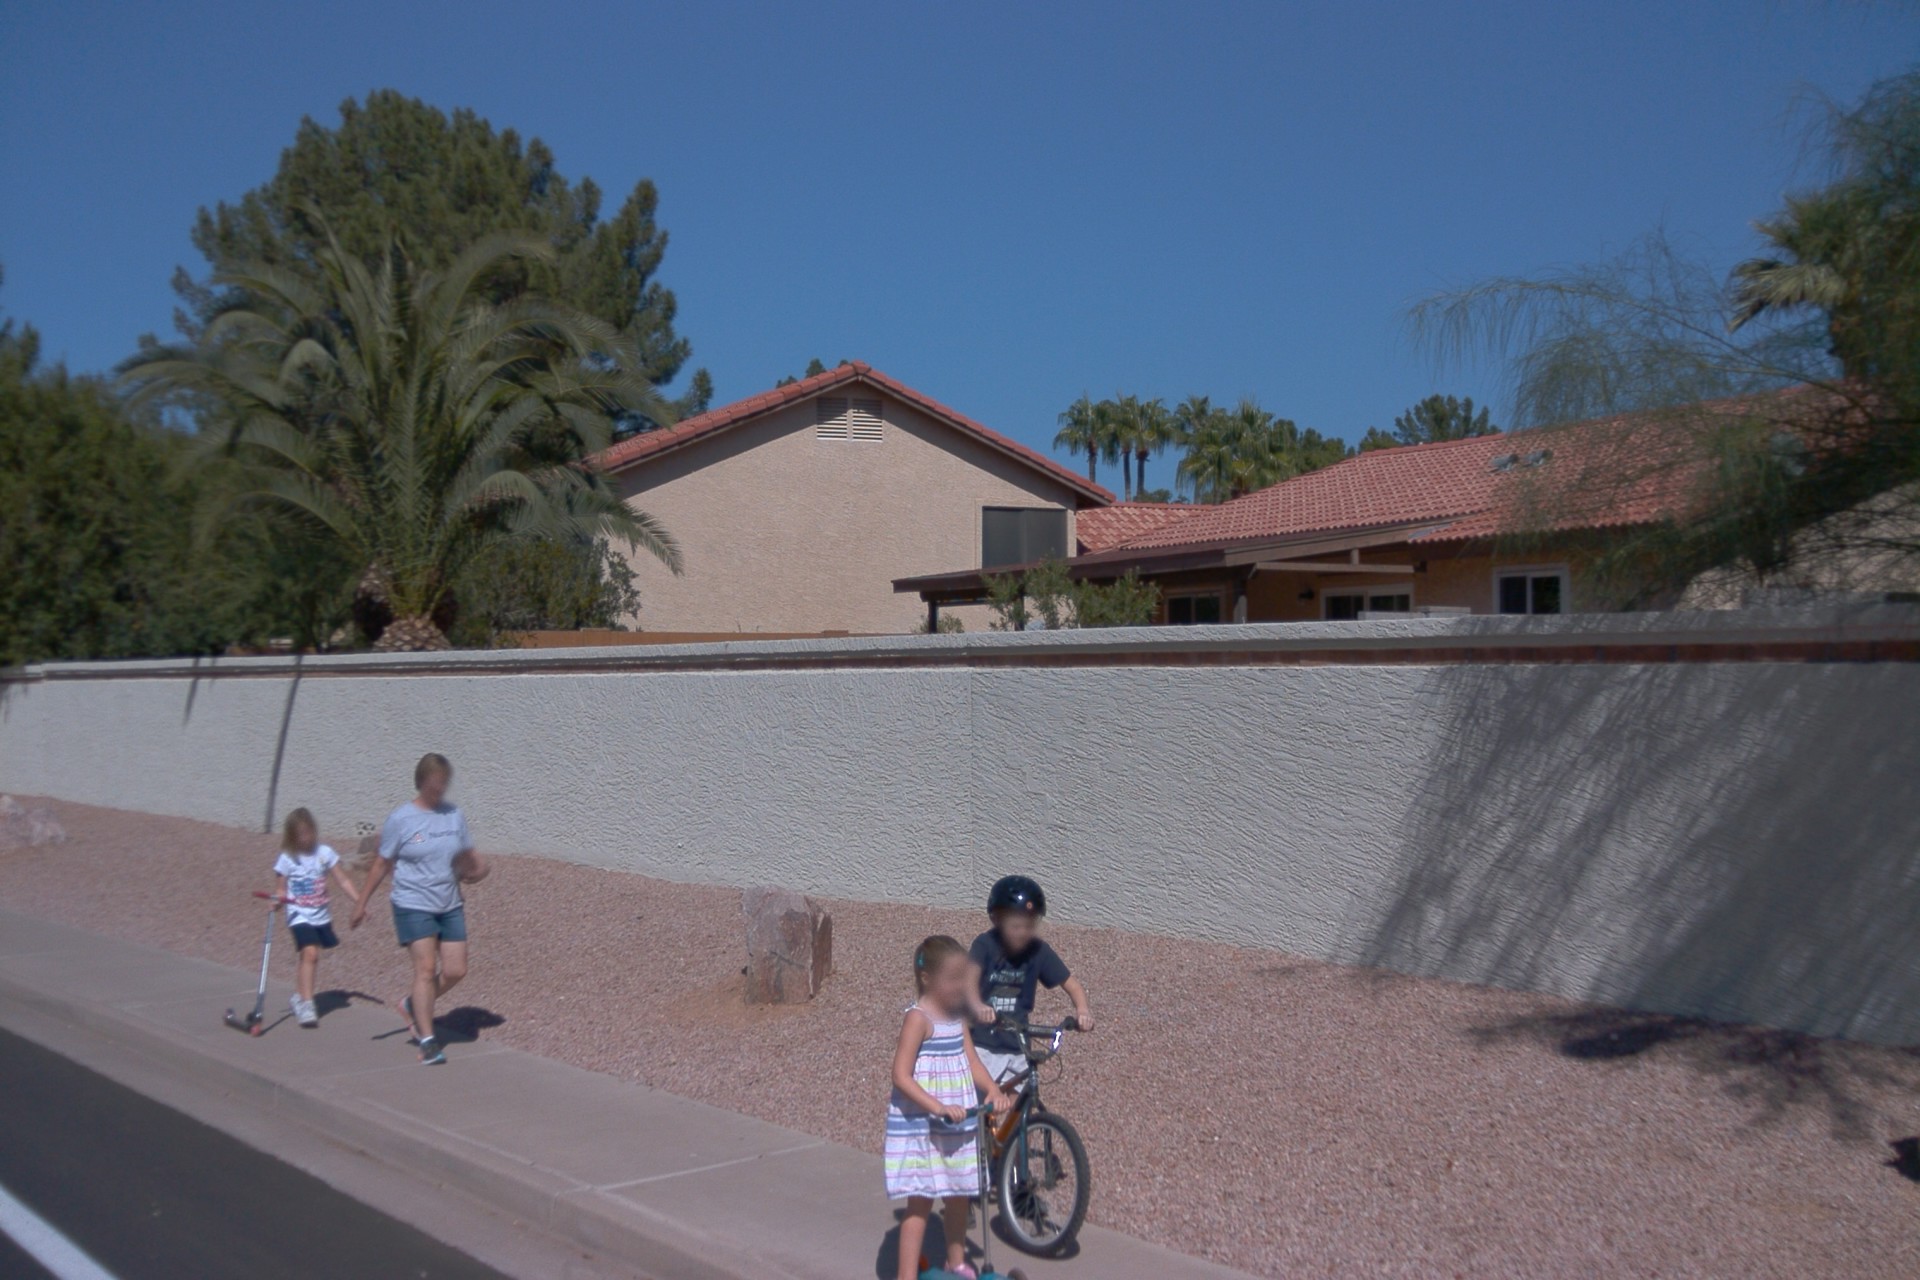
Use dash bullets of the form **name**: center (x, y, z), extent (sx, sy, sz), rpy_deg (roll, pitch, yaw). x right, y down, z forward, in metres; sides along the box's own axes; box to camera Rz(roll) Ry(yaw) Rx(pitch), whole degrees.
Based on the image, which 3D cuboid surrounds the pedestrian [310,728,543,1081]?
- **pedestrian**: center (-2.977, 1.413, 11.512), extent (0.879, 1.800, 1.067), rpy_deg (1, -1, -39)

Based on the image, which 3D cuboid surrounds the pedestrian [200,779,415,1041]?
- **pedestrian**: center (-4.012, 1.614, 12.698), extent (0.992, 1.440, 1.008), rpy_deg (1, -1, -34)

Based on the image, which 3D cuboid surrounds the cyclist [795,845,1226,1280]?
- **cyclist**: center (0.155, 1.562, 7.784), extent (0.914, 1.430, 1.474), rpy_deg (1, -1, -35)

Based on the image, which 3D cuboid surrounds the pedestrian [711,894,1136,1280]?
- **pedestrian**: center (-0.132, 1.552, 6.813), extent (0.992, 1.280, 1.008), rpy_deg (1, -1, -35)
